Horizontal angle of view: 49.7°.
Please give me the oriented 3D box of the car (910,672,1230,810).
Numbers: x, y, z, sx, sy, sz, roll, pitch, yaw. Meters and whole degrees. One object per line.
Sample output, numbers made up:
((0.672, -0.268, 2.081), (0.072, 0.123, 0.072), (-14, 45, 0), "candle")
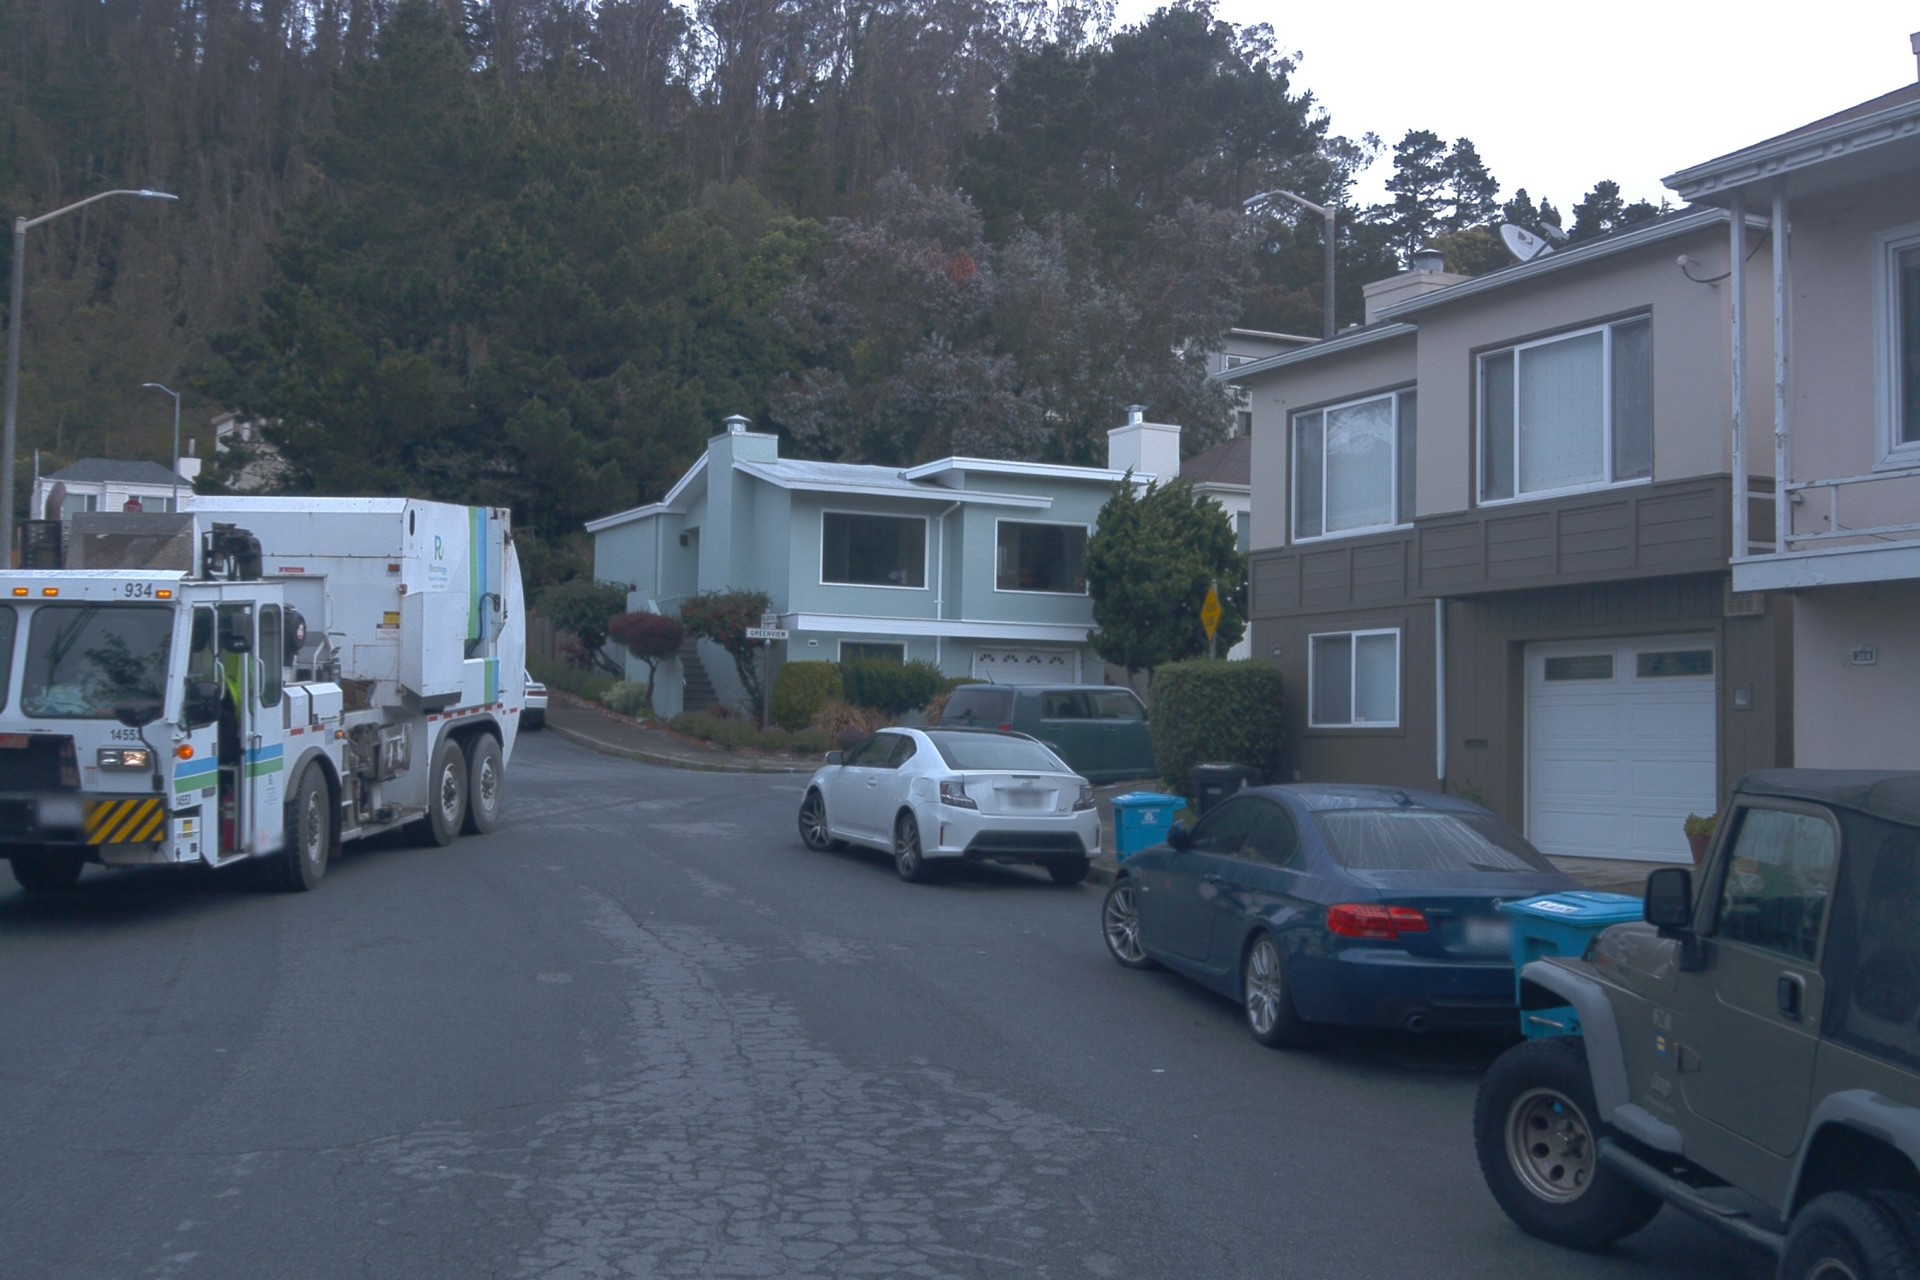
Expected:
((1.605, 1.358, 29.359), (4.270, 1.770, 2.030), (0, 0, -39), "car")

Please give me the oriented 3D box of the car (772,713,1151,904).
((-0.137, 1.575, 20.782), (2.201, 1.540, 4.545), (0, 0, -23), "car")

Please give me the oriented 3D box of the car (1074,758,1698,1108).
((2.267, 1.565, 12.548), (2.037, 1.450, 4.649), (0, 0, -11), "car")
